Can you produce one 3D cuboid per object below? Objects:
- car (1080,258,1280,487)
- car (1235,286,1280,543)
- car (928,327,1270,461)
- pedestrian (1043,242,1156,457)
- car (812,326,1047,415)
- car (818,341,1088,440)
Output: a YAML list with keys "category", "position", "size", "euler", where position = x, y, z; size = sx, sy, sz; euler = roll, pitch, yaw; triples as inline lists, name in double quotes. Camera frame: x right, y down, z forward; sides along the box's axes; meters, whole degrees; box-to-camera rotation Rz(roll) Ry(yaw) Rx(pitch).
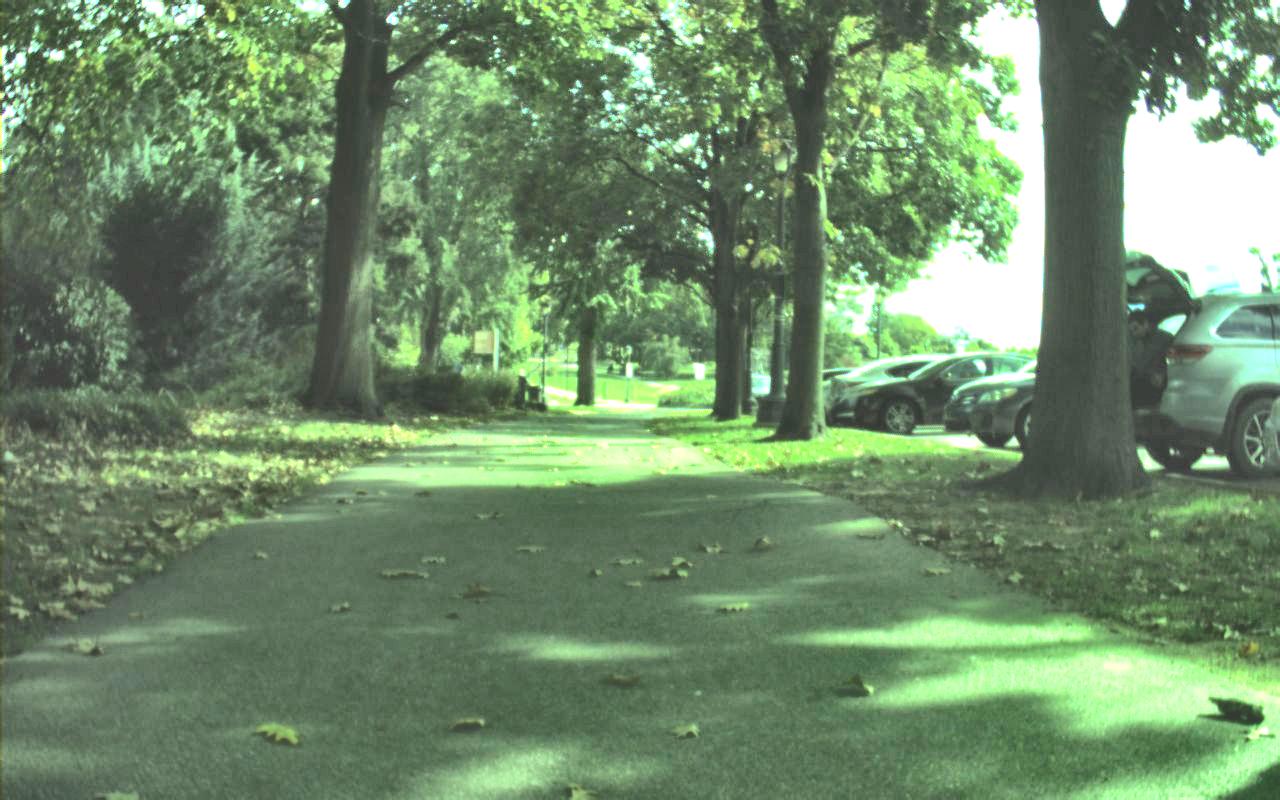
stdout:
- category: "car"
  position: [6.454, -0.216, 10.648]
  size: [4.459, 1.895, 2.012]
  euler: [1, 1, 4]
- category: "car"
  position: [6.723, 0.105, 7.846]
  size: [4.430, 1.583, 1.959]
  euler: [0, 1, -10]
- category: "car"
  position: [6.153, -0.076, 15.949]
  size: [4.400, 1.605, 1.955]
  euler: [0, 1, -7]
- category: "pedestrian"
  position: [4.168, -0.435, 10.913]
  size: [0.961, 1.880, 0.897]
  euler: [1, 0, 13]
- category: "car"
  position: [5.794, -0.573, 24.941]
  size: [4.411, 1.680, 1.961]
  euler: [0, 1, -5]
- category: "car"
  position: [5.466, -0.159, 21.749]
  size: [4.455, 1.616, 1.978]
  euler: [0, 1, -4]
